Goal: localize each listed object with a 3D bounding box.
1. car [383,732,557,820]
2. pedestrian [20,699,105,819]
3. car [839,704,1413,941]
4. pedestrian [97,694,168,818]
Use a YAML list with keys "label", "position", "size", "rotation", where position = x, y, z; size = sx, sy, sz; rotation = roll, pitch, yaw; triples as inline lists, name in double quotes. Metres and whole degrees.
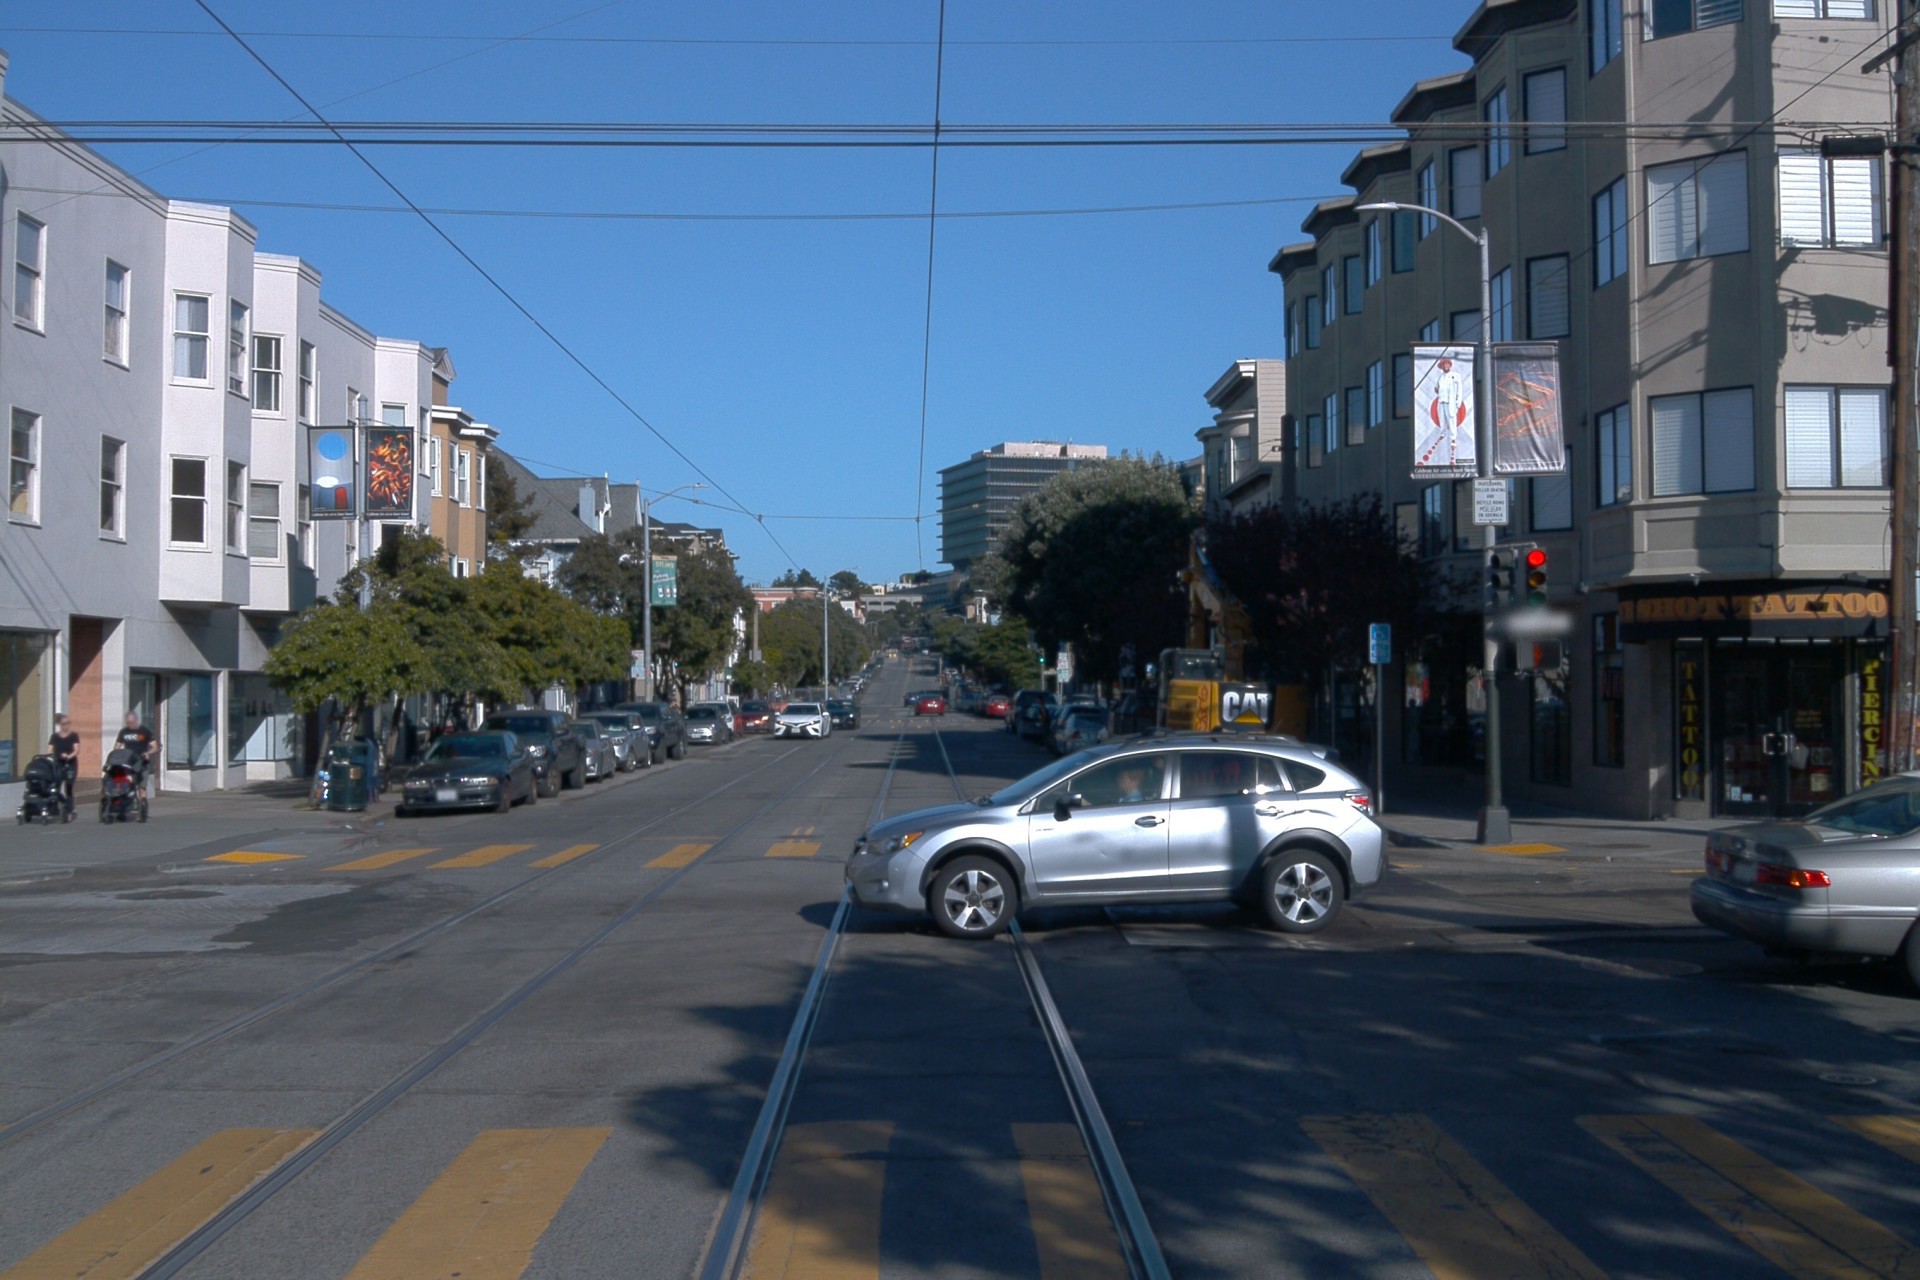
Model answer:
- label: "car"
  position: [-8.763, 2.414, 37.436]
  size: [2.075, 1.330, 4.407]
  rotation: [0, 0, 0]
- label: "pedestrian"
  position: [-13.255, 1.741, 30.615]
  size: [0.837, 1.720, 1.012]
  rotation: [0, 0, -3]
- label: "car"
  position: [1.268, 1.442, 17.127]
  size: [4.468, 1.770, 1.920]
  rotation: [0, 0, -5]
- label: "pedestrian"
  position: [-12.474, 1.731, 31.250]
  size: [0.768, 1.820, 0.947]
  rotation: [0, 0, -6]
